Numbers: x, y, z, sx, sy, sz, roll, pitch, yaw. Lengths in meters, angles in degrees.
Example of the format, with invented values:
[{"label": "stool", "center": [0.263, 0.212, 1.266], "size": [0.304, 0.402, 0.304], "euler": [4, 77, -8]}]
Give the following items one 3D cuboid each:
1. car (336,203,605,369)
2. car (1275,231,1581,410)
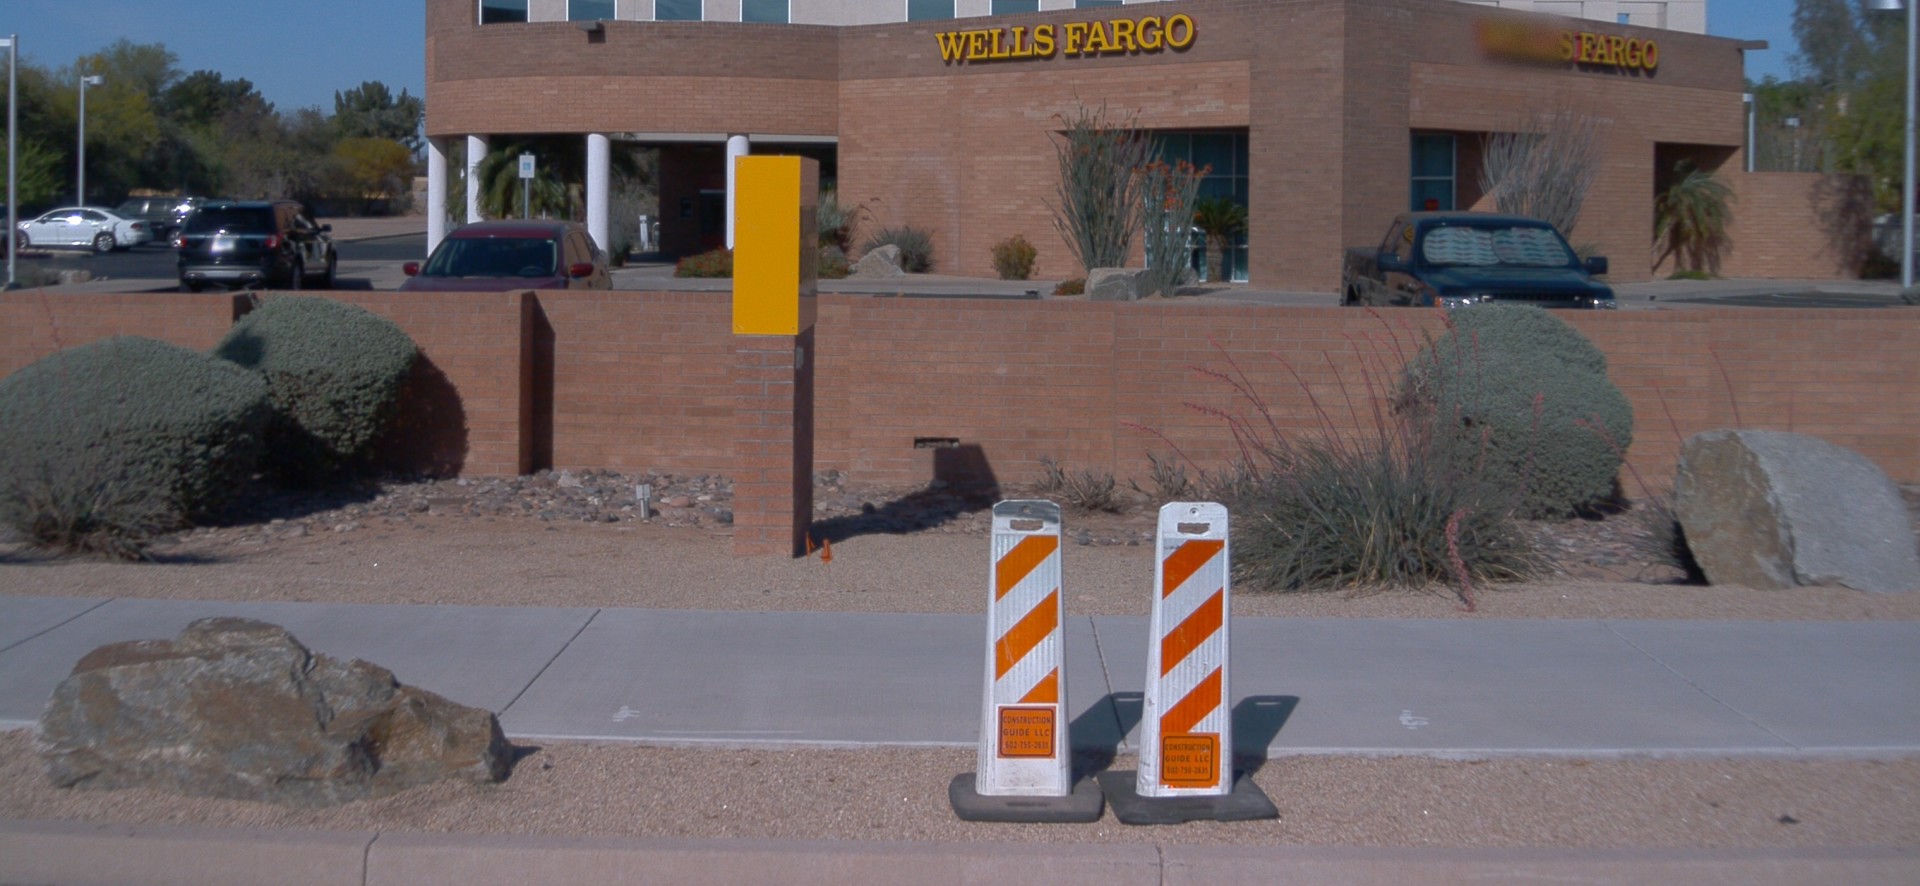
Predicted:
[{"label": "car", "center": [-5.431, -1.830, 23.620], "size": [2.054, 1.675, 4.436], "euler": [1, 5, -1]}, {"label": "car", "center": [5.182, -1.521, 23.949], "size": [2.440, 1.764, 5.910], "euler": [1, 5, 3]}]
